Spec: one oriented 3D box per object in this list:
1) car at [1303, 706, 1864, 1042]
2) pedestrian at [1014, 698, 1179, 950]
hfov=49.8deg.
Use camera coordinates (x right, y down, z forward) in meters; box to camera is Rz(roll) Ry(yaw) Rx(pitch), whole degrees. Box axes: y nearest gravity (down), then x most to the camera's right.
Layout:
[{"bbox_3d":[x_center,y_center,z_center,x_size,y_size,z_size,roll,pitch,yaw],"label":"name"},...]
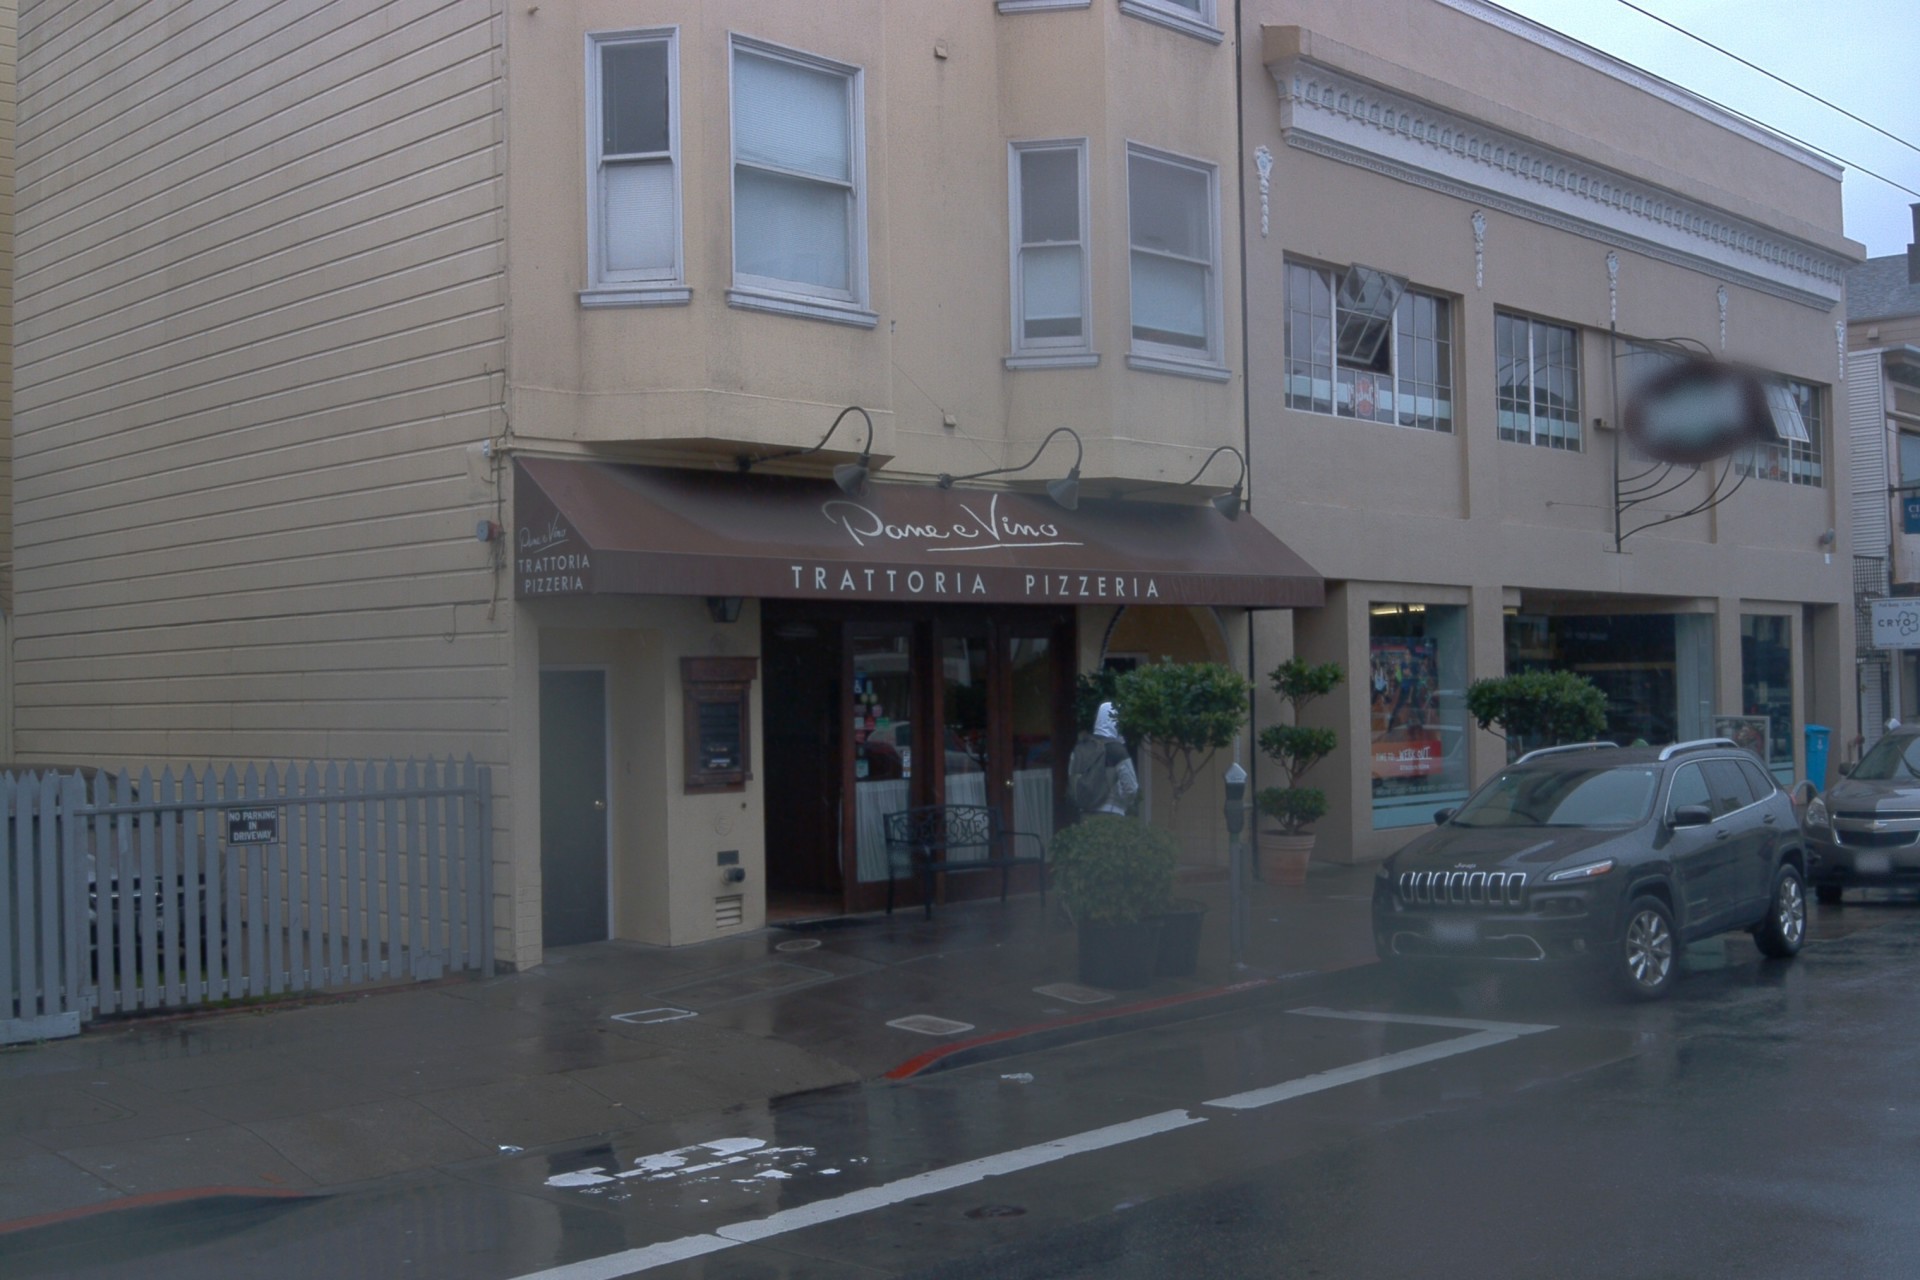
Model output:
[{"bbox_3d":[4.706,1.503,15.088,2.113,1.830,4.891,2,1,40],"label":"car"},{"bbox_3d":[1.048,1.368,15.781,0.729,1.800,1.056,2,1,43],"label":"pedestrian"}]
